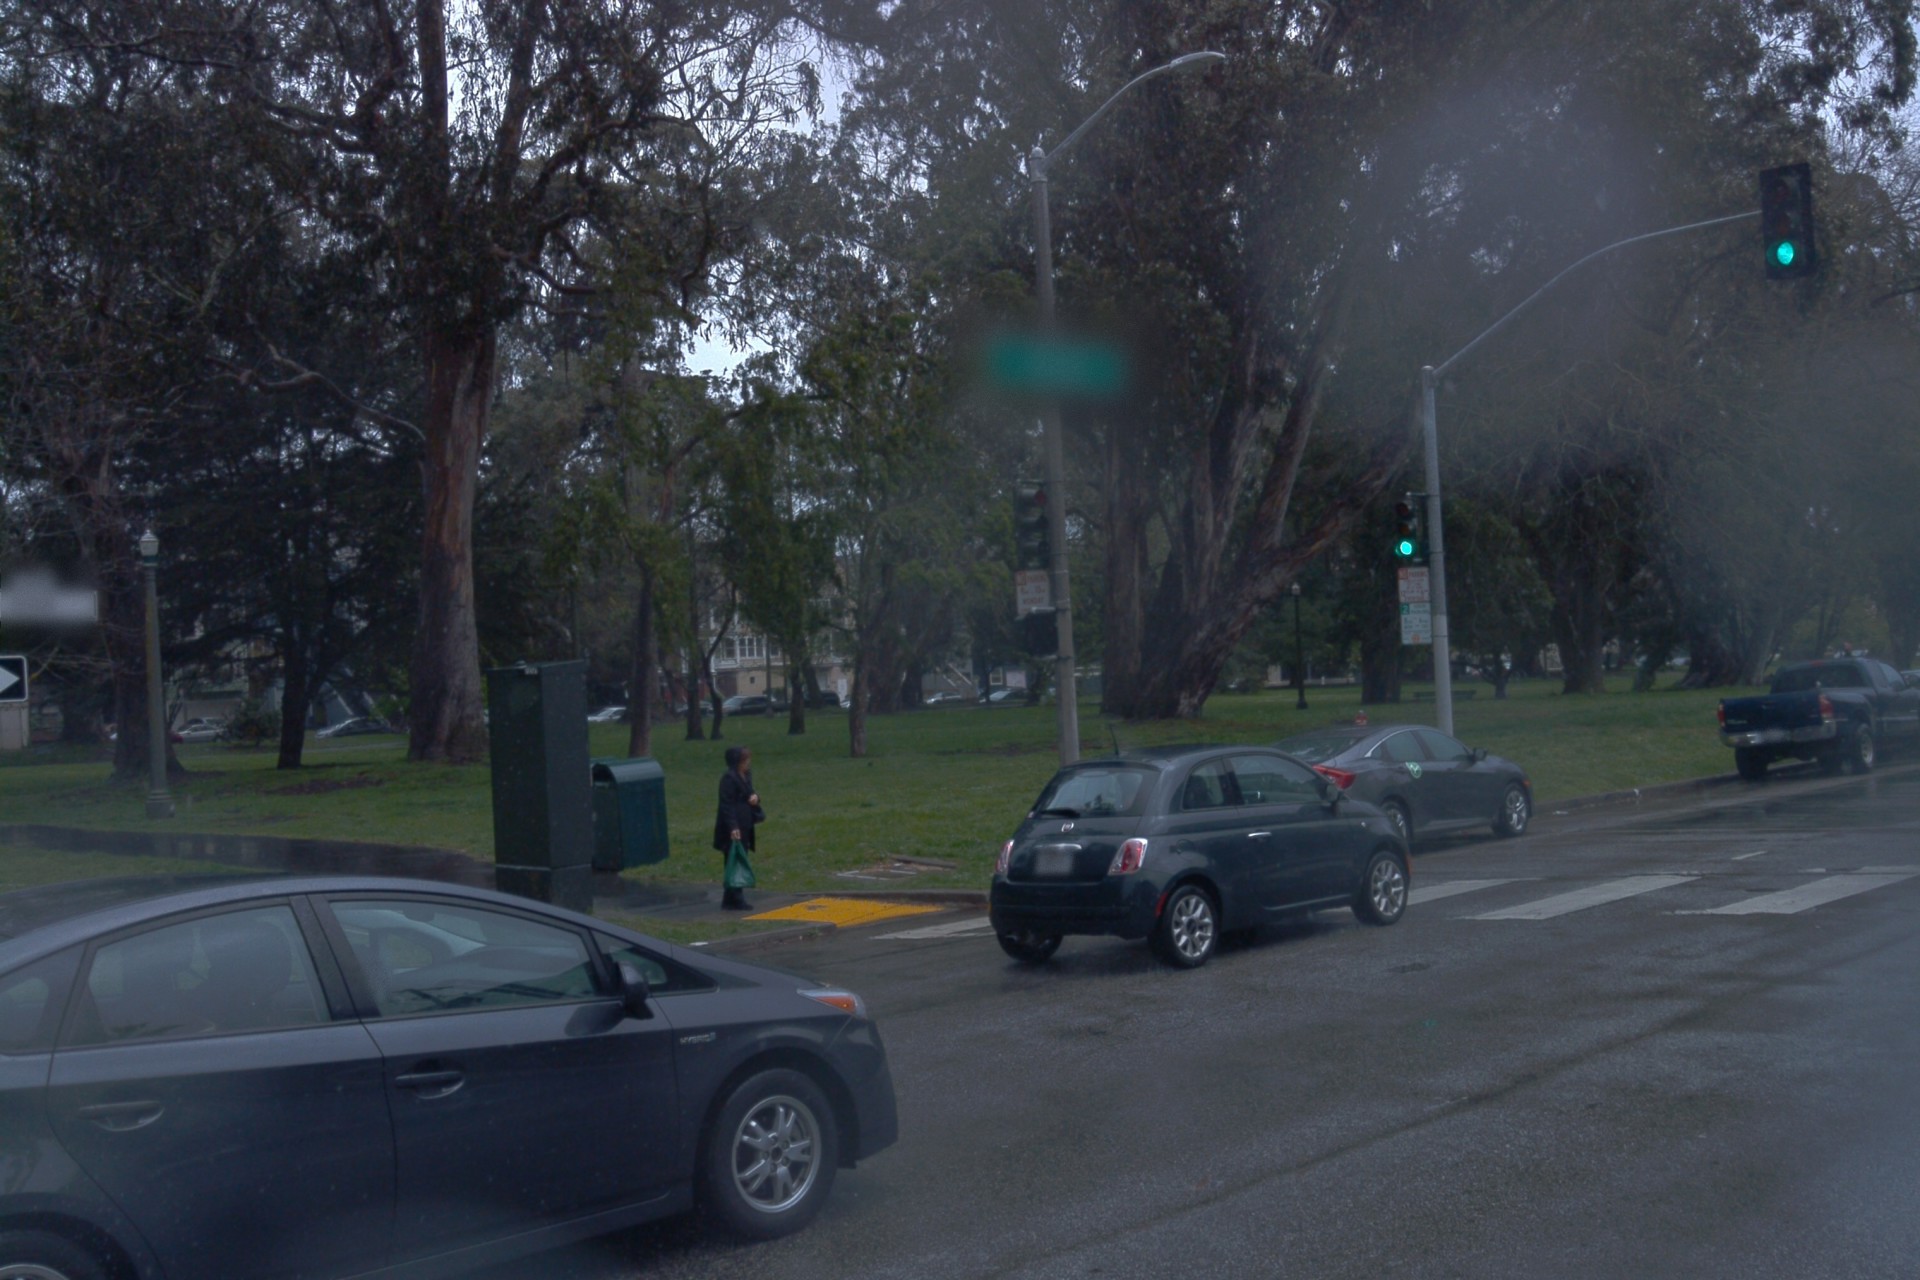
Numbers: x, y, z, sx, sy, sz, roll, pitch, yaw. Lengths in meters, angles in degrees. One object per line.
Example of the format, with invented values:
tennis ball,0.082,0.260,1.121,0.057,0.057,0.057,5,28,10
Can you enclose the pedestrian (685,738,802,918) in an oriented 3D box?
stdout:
pedestrian,-2.013,1.729,19.120,0.723,1.560,0.834,1,2,32

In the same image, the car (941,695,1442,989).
car,1.771,1.348,15.049,3.581,1.715,1.794,-1,2,-45

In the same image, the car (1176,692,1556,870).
car,4.548,1.441,22.527,2.031,1.540,4.554,1,2,42
